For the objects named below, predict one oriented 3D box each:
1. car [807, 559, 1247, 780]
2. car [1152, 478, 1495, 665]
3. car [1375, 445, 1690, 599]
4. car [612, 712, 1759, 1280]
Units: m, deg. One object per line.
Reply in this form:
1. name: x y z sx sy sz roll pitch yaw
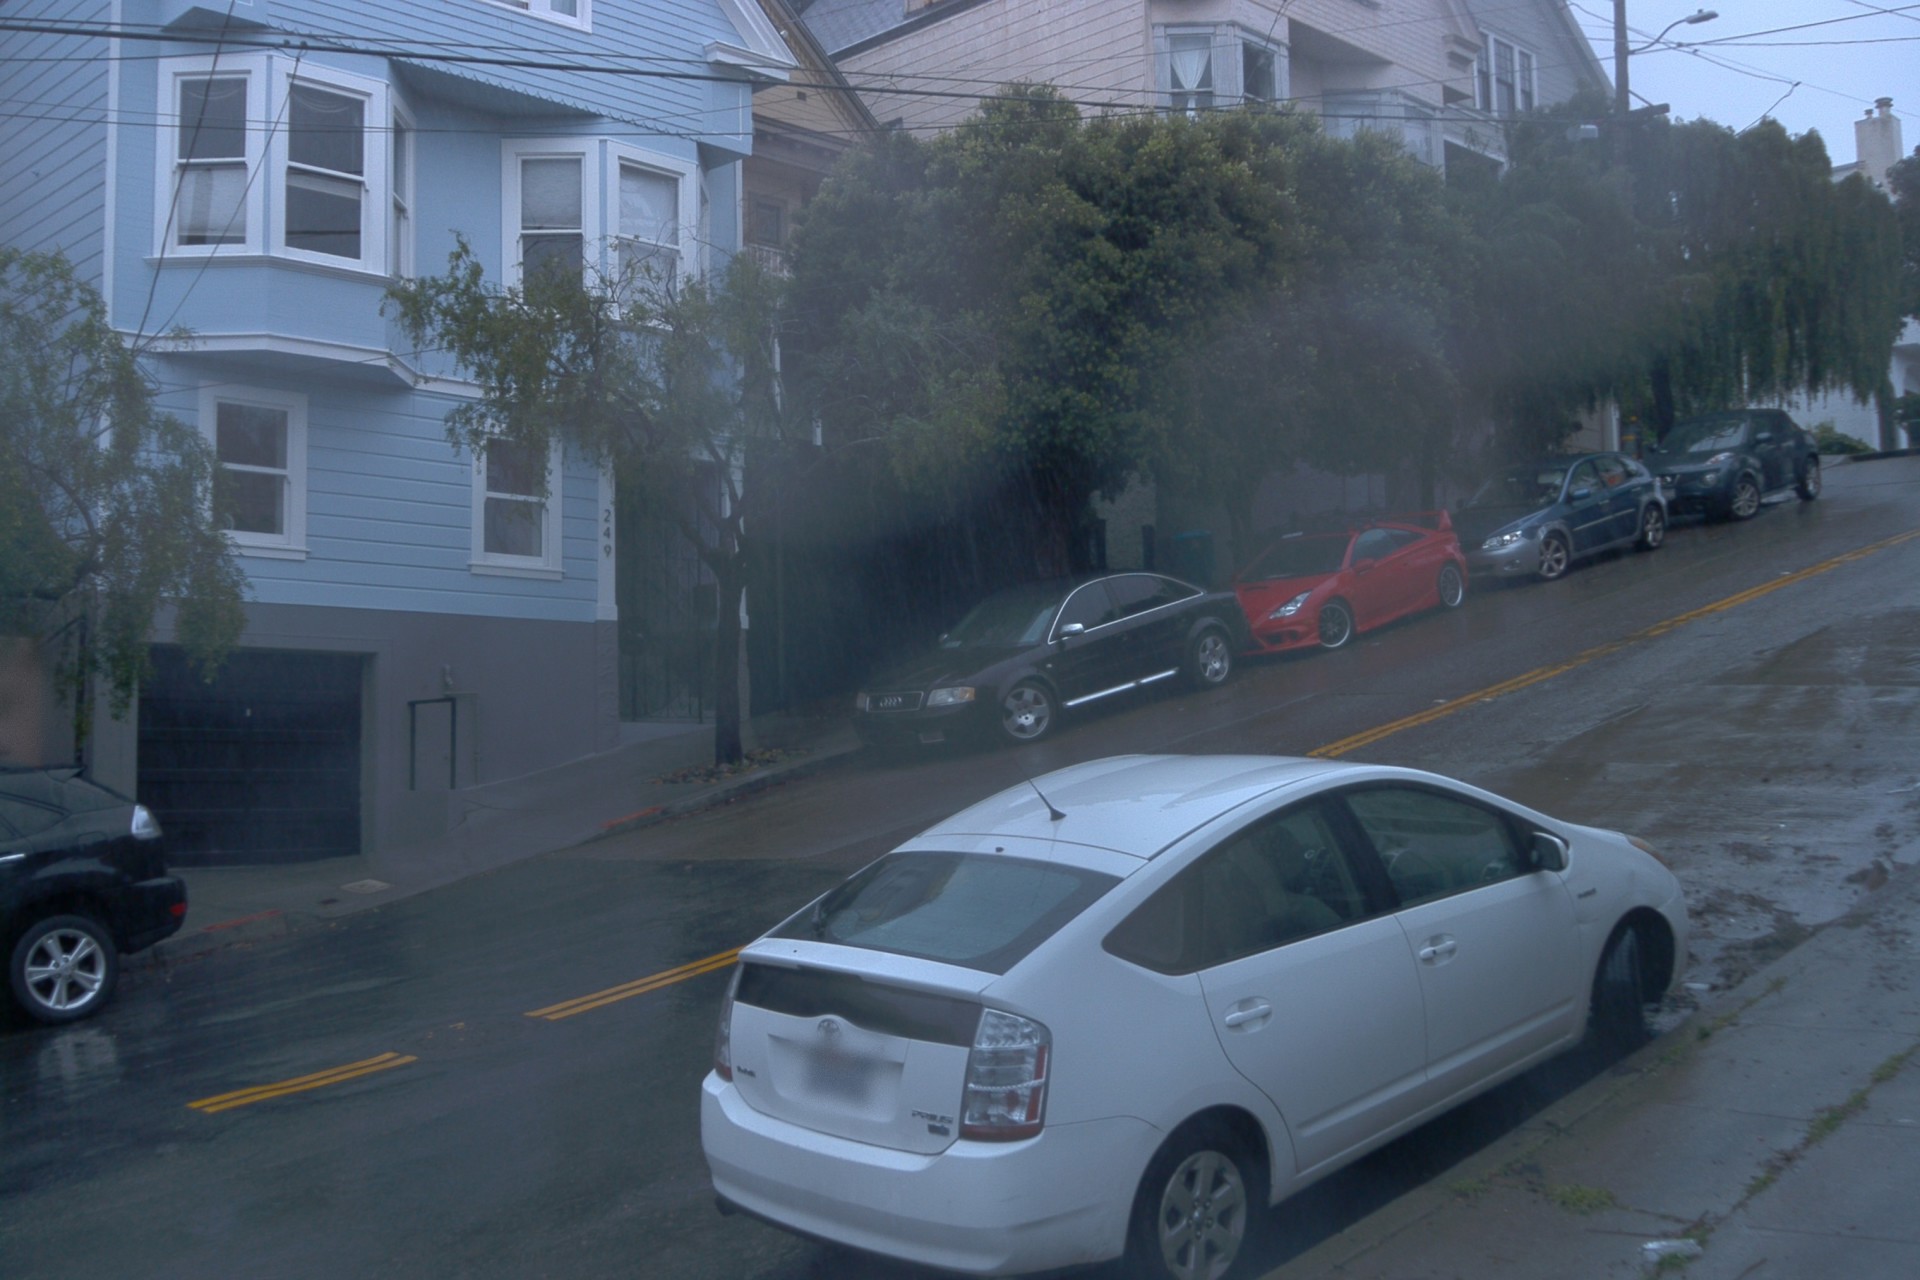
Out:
1. car: 0.748 0.259 20.444 4.206 1.970 2.031 0 0 -45
2. car: 4.307 -0.728 23.973 2.006 1.990 4.048 1 0 44
3. car: 7.743 -1.490 27.500 1.981 1.800 4.754 1 0 45
4. car: 1.041 1.273 7.737 4.193 1.850 2.044 0 0 -43
